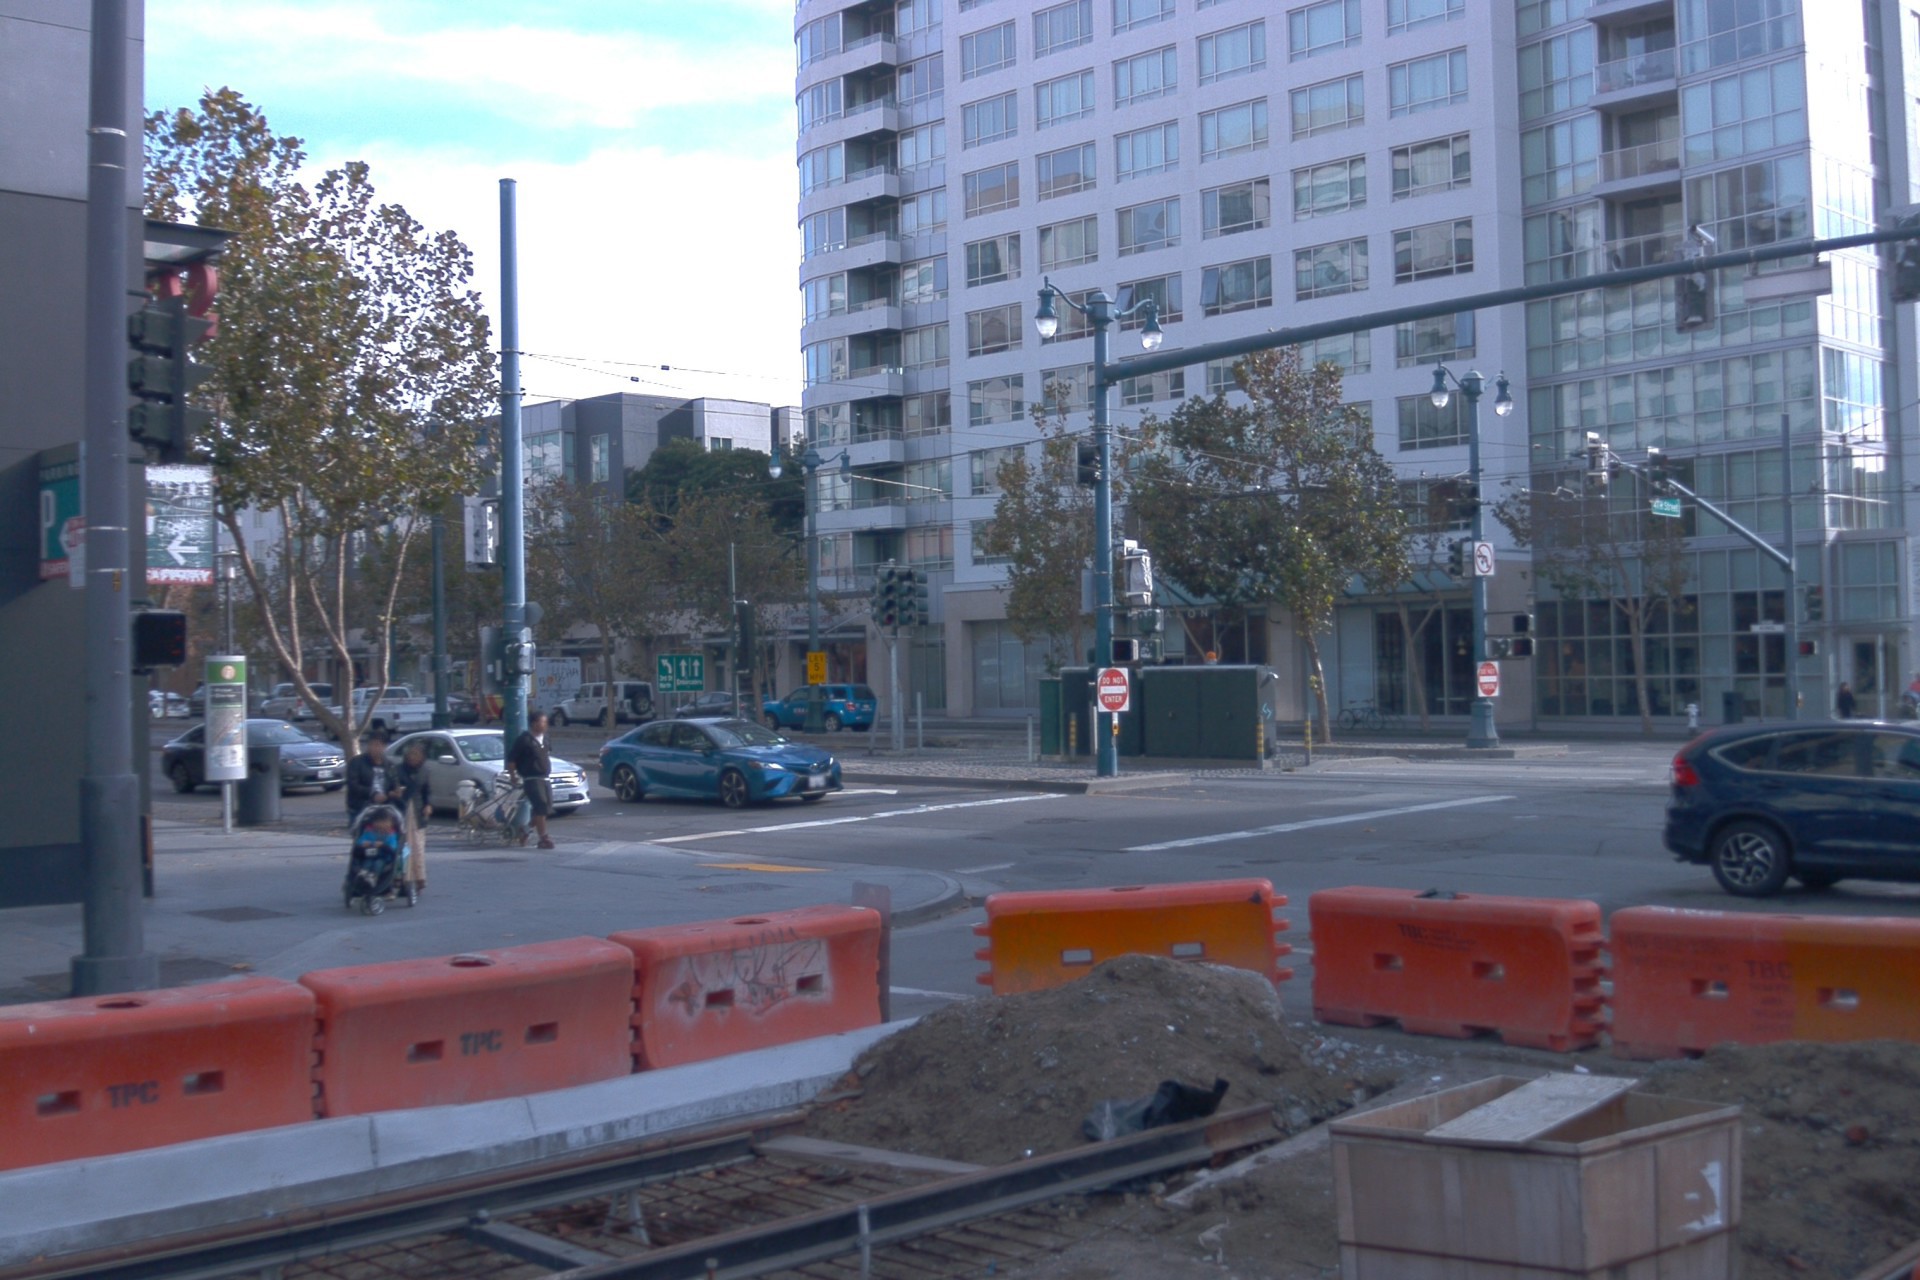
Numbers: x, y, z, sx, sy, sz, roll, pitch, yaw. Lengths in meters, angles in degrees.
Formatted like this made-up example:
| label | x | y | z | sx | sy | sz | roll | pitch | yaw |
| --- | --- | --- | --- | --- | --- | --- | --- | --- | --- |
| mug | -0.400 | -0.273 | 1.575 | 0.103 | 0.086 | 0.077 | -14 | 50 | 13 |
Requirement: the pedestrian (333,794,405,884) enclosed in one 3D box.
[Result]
| label | x | y | z | sx | sy | sz | roll | pitch | yaw |
| --- | --- | --- | --- | --- | --- | --- | --- | --- | --- |
| pedestrian | -5.377 | 1.807 | 18.927 | 0.484 | 0.752 | 0.724 | 0 | -1 | -4 |

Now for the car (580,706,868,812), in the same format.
| label | x | y | z | sx | sy | sz | roll | pitch | yaw |
| --- | --- | --- | --- | --- | --- | --- | --- | --- | --- |
| car | -4.077 | 1.955 | 35.361 | 5.007 | 1.540 | 2.135 | 0 | -1 | 43 |

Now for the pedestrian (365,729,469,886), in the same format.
| label | x | y | z | sx | sy | sz | roll | pitch | yaw |
| --- | --- | --- | --- | --- | --- | --- | --- | --- | --- |
| pedestrian | -5.309 | 1.620 | 20.329 | 0.723 | 1.460 | 0.660 | 0 | -1 | 28 |

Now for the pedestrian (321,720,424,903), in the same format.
| label | x | y | z | sx | sy | sz | roll | pitch | yaw |
| --- | --- | --- | --- | --- | --- | --- | --- | --- | --- |
| pedestrian | -5.589 | 1.611 | 19.751 | 0.743 | 1.660 | 0.772 | 1 | -1 | -32 |

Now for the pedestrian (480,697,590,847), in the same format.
| label | x | y | z | sx | sy | sz | roll | pitch | yaw |
| --- | --- | --- | --- | --- | --- | --- | --- | --- | --- |
| pedestrian | -5.400 | 1.659 | 26.432 | 0.942 | 1.830 | 0.981 | 0 | -1 | 39 |

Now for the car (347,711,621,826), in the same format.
| label | x | y | z | sx | sy | sz | roll | pitch | yaw |
| --- | --- | --- | --- | --- | --- | --- | --- | --- | --- |
| car | -7.975 | 2.067 | 34.516 | 4.934 | 1.610 | 2.118 | 0 | -1 | 45 |
